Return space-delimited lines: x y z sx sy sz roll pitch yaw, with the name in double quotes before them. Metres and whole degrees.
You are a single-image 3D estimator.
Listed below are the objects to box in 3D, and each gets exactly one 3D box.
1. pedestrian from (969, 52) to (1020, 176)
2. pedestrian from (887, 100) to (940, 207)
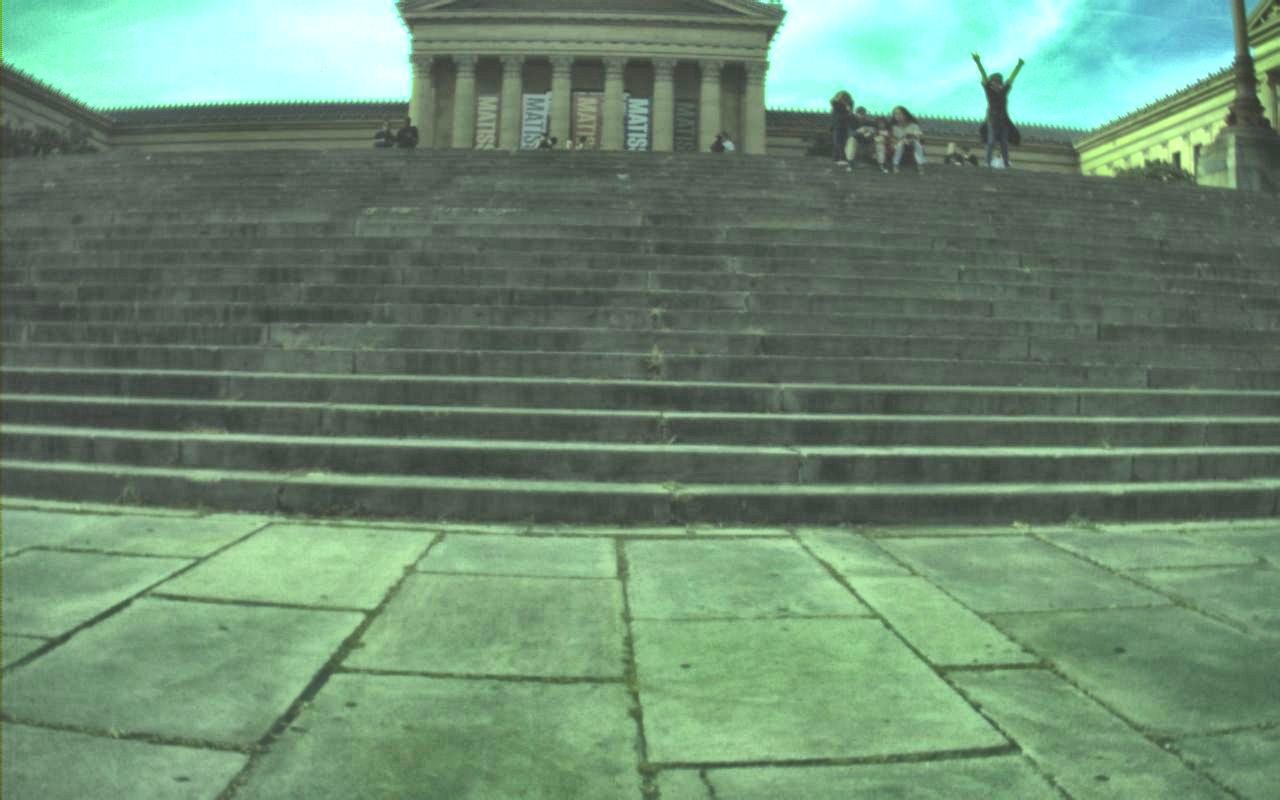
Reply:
"pedestrian" 5.617 -4.514 19.117 0.753 1.901 0.754 0 0 14
"pedestrian" 4.037 -3.610 18.106 0.639 1.487 0.686 1 0 22
